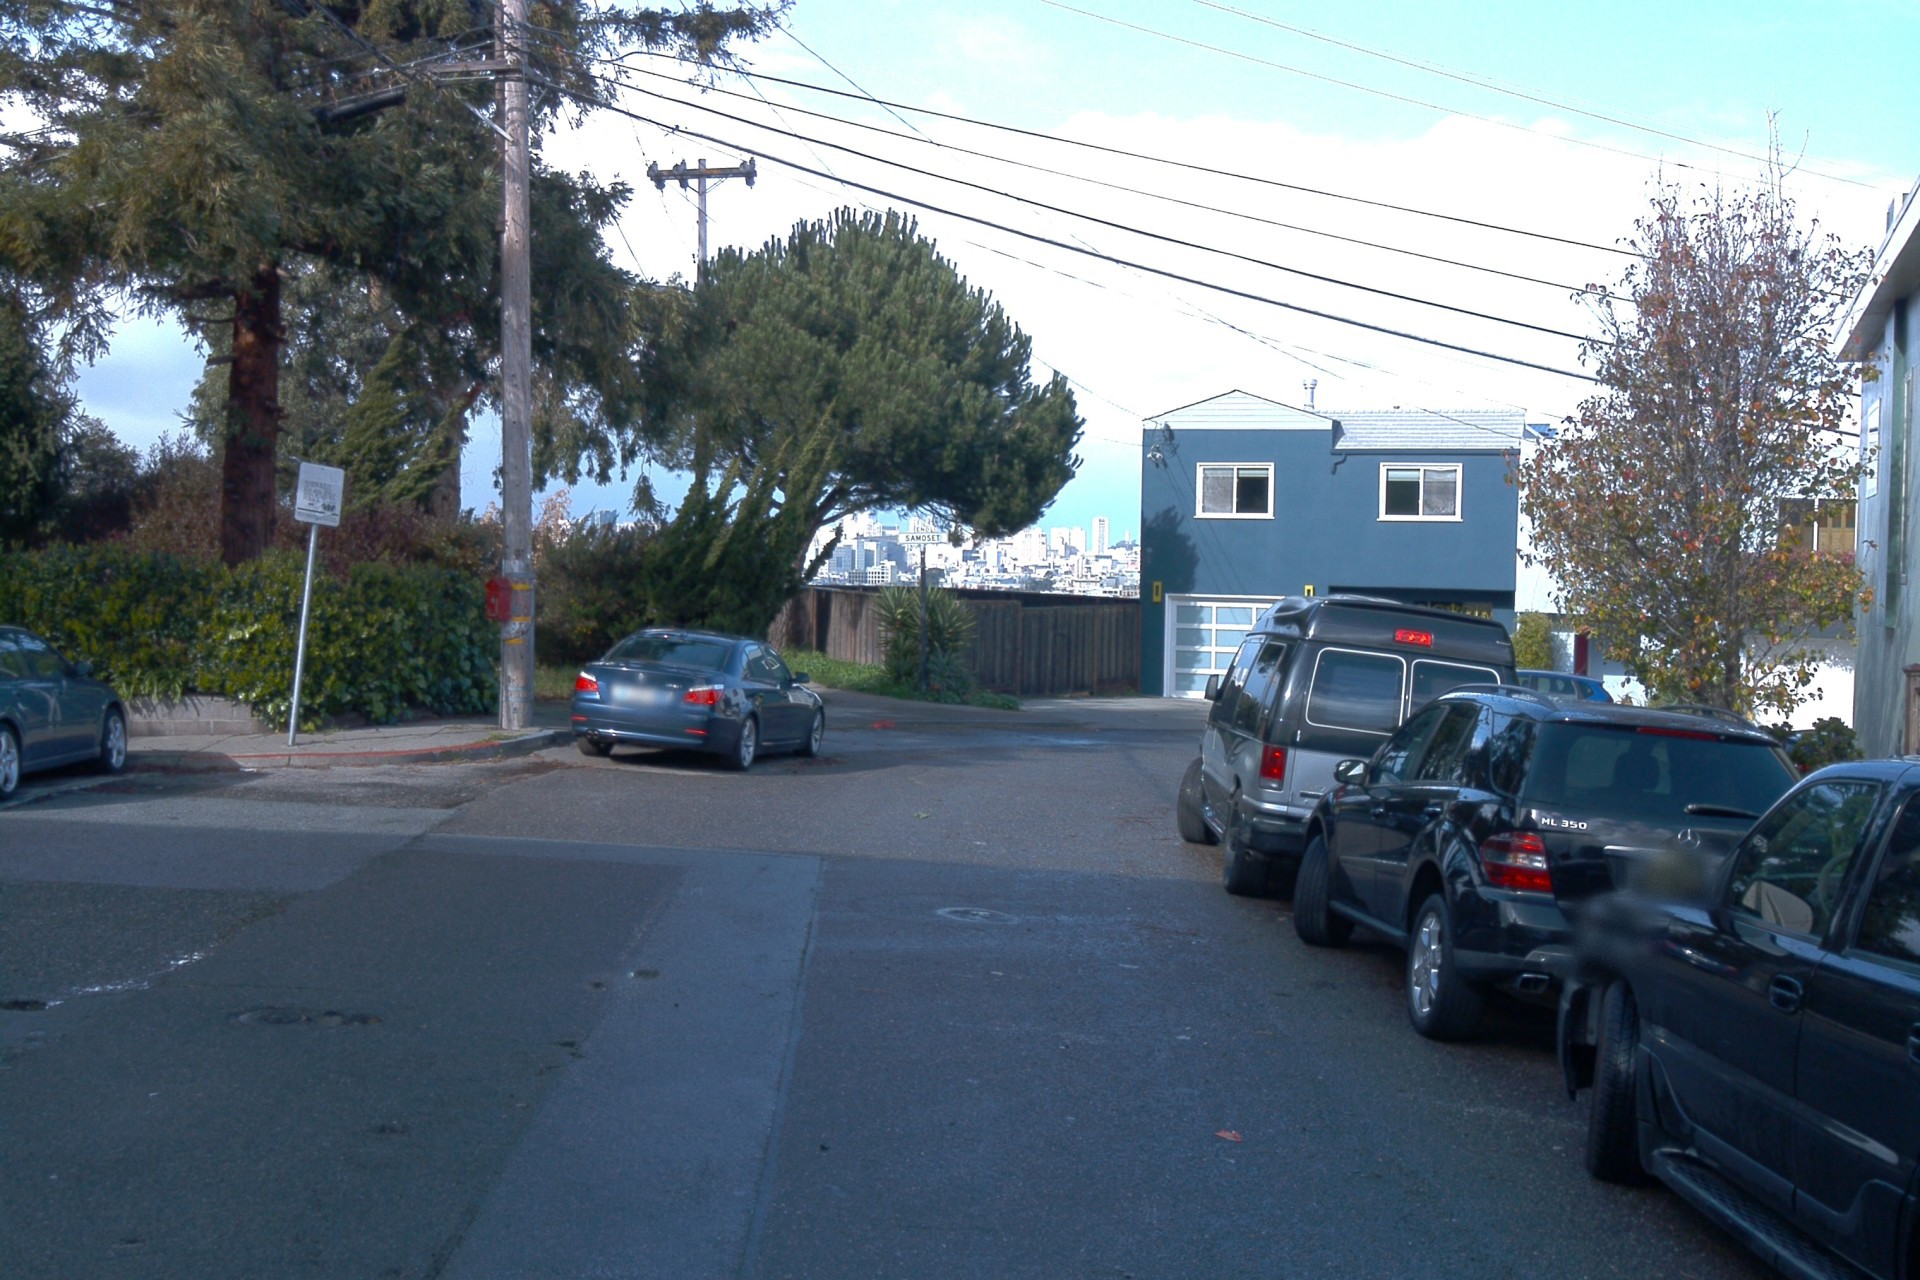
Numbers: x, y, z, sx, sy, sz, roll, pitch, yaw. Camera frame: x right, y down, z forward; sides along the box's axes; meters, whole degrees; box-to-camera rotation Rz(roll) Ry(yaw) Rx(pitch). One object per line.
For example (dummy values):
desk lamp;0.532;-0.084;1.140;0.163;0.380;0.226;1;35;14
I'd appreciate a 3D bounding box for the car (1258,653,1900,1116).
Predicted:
car;3.151;1.130;11.682;2.070;1.960;4.717;1;1;-2

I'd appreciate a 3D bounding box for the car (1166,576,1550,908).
car;3.057;0.665;17.141;2.287;2.280;5.498;1;1;2

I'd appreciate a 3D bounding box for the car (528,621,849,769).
car;-2.891;0.527;23.080;2.158;1.430;4.595;1;1;12

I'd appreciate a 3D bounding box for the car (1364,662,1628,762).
car;9.193;1.223;35.469;4.015;1.560;1.834;1;1;-3
